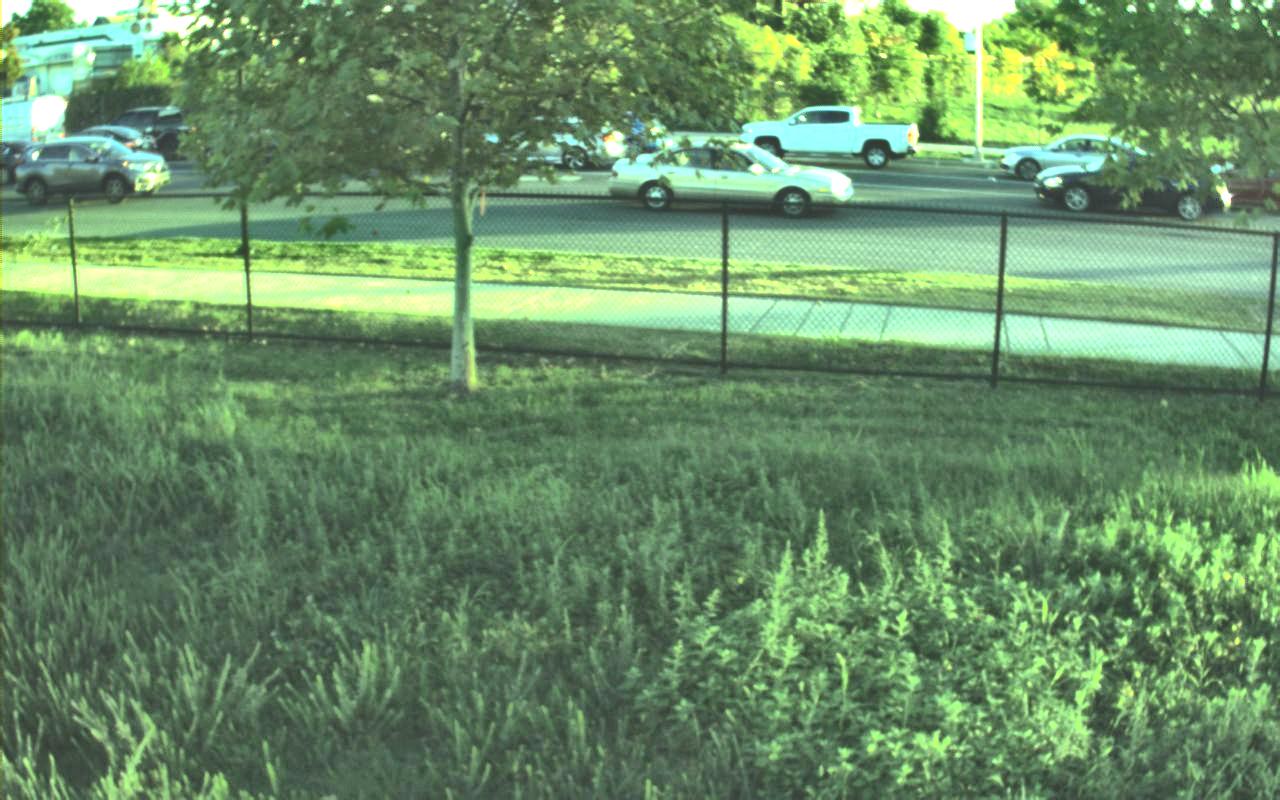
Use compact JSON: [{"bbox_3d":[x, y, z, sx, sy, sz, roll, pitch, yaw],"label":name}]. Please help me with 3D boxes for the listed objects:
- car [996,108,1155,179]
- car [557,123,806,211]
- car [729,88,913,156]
[{"bbox_3d":[12.608,-7.376,34.196,4.594,1.624,1.986,7,17,25],"label":"car"},{"bbox_3d":[0.916,-4.946,26.258,4.885,1.602,2.037,3,16,15],"label":"car"},{"bbox_3d":[5.466,-8.304,36.834,5.311,1.794,2.156,3,16,14],"label":"car"}]
